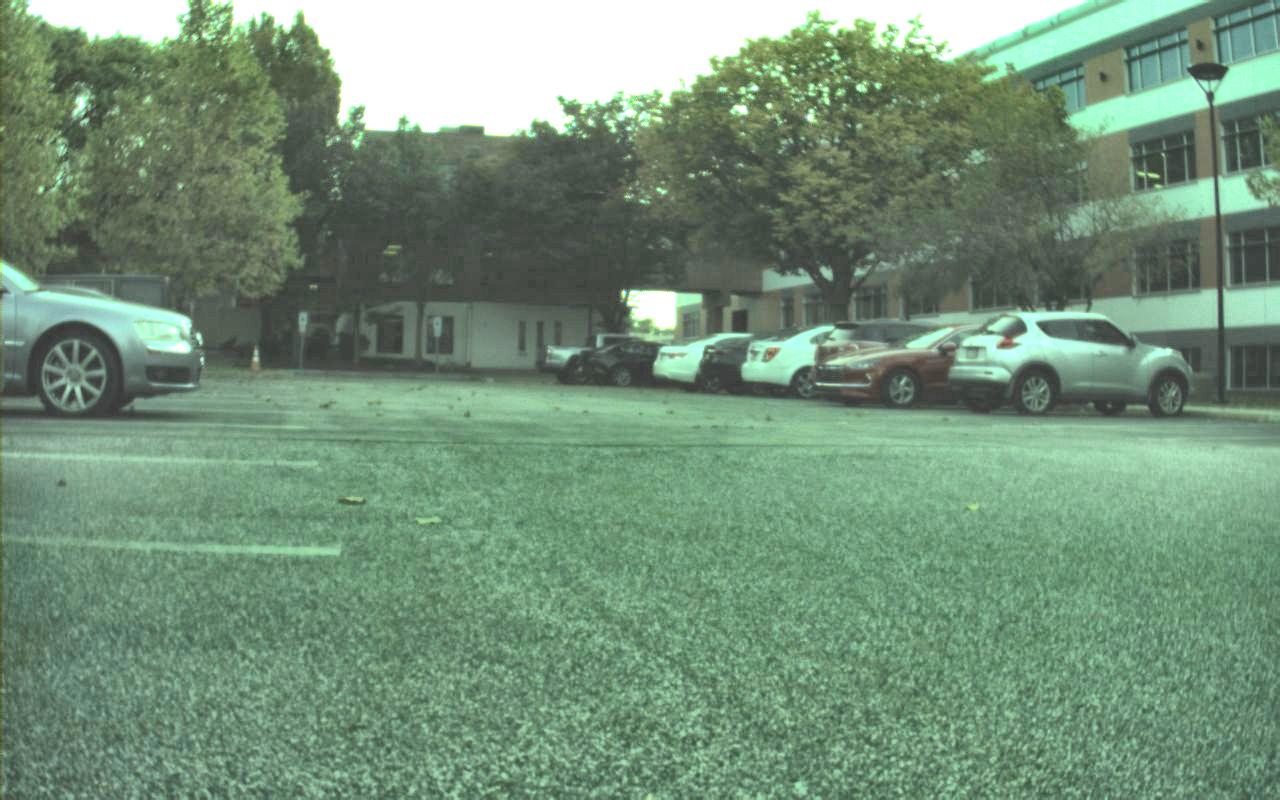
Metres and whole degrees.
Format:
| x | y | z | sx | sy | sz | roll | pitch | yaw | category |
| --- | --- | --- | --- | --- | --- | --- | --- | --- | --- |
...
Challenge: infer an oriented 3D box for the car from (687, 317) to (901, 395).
| x | y | z | sx | sy | sz | roll | pitch | yaw | category |
| --- | --- | --- | --- | --- | --- | --- | --- | --- | --- |
| 3.449 | -0.957 | 28.220 | 4.425 | 1.655 | 1.947 | 0 | 1 | -15 | car |

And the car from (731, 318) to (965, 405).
| x | y | z | sx | sy | sz | roll | pitch | yaw | category |
| --- | --- | --- | --- | --- | --- | --- | --- | --- | --- |
| 4.304 | -0.770 | 25.888 | 4.500 | 1.684 | 1.952 | 0 | 1 | -12 | car |

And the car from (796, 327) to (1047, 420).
| x | y | z | sx | sy | sz | roll | pitch | yaw | category |
| --- | --- | --- | --- | --- | --- | --- | --- | --- | --- |
| 5.332 | -0.484 | 23.355 | 4.414 | 1.628 | 1.946 | 0 | 1 | -15 | car |

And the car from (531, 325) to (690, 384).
| x | y | z | sx | sy | sz | roll | pitch | yaw | category |
| --- | --- | --- | --- | --- | --- | --- | --- | --- | --- |
| -1.019 | -1.522 | 42.879 | 5.019 | 1.917 | 2.095 | 0 | 1 | -17 | car |

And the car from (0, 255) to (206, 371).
| x | y | z | sx | sy | sz | roll | pitch | yaw | category |
| --- | --- | --- | --- | --- | --- | --- | --- | --- | --- |
| -9.364 | -1.344 | 18.741 | 4.685 | 1.798 | 2.023 | 0 | 1 | -19 | car |

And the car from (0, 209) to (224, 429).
| x | y | z | sx | sy | sz | roll | pitch | yaw | category |
| --- | --- | --- | --- | --- | --- | --- | --- | --- | --- |
| -5.702 | -0.618 | 9.150 | 4.650 | 1.637 | 1.993 | 0 | 1 | -17 | car |

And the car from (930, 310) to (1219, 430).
| x | y | z | sx | sy | sz | roll | pitch | yaw | category |
| --- | --- | --- | --- | --- | --- | --- | --- | --- | --- |
| 6.643 | -0.418 | 18.176 | 4.264 | 1.639 | 1.882 | 0 | 1 | -14 | car |

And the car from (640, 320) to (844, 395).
| x | y | z | sx | sy | sz | roll | pitch | yaw | category |
| --- | --- | --- | --- | --- | --- | --- | --- | --- | --- |
| 2.464 | -1.007 | 30.650 | 4.588 | 1.719 | 1.992 | 0 | 1 | -14 | car |

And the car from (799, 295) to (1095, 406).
| x | y | z | sx | sy | sz | roll | pitch | yaw | category |
| --- | --- | --- | --- | --- | --- | --- | --- | --- | --- |
| 5.153 | -0.769 | 20.553 | 4.680 | 1.687 | 1.994 | 0 | 1 | -15 | car |
